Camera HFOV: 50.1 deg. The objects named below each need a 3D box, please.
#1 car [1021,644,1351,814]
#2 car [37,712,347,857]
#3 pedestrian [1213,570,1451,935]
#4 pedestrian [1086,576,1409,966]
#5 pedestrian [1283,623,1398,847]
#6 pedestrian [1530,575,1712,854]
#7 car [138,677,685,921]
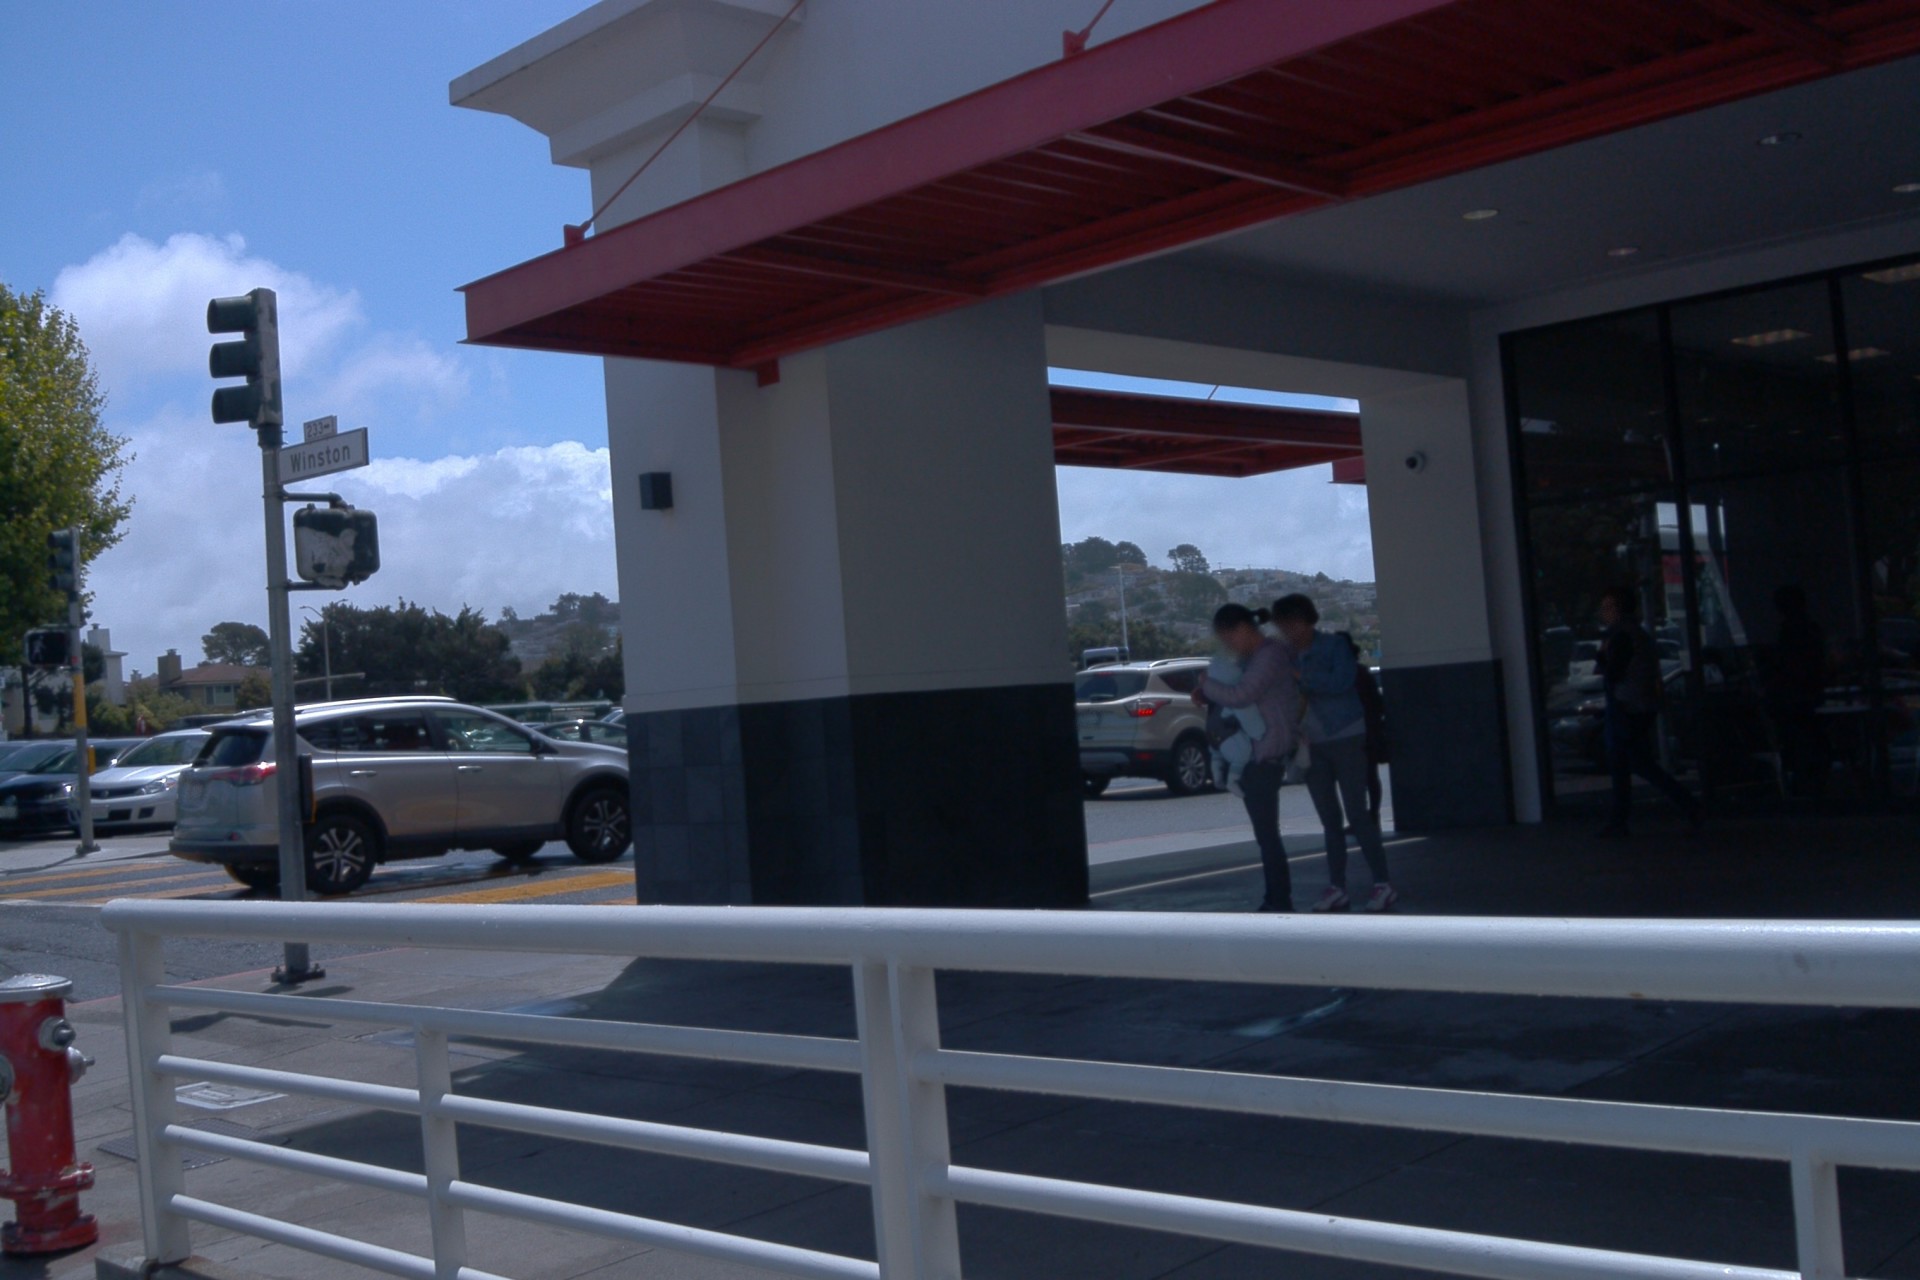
[{"bbox_3d":[2.993,1.065,26.629,2.024,1.960,4.298,0,1,44],"label":"car"},{"bbox_3d":[-10.827,1.978,29.325,1.980,1.700,4.255,0,1,17],"label":"car"},{"bbox_3d":[1.835,0.516,10.114,0.828,1.690,0.876,0,0,39],"label":"pedestrian"},{"bbox_3d":[1.354,0.564,9.706,1.058,1.700,1.078,0,0,-42],"label":"pedestrian"},{"bbox_3d":[2.949,0.710,15.906,0.815,1.680,0.817,0,0,15],"label":"pedestrian"},{"bbox_3d":[4.213,0.447,13.097,0.838,1.700,0.880,0,0,40],"label":"pedestrian"},{"bbox_3d":[-5.079,1.364,19.383,4.486,1.900,2.142,-1,1,-42],"label":"car"}]
